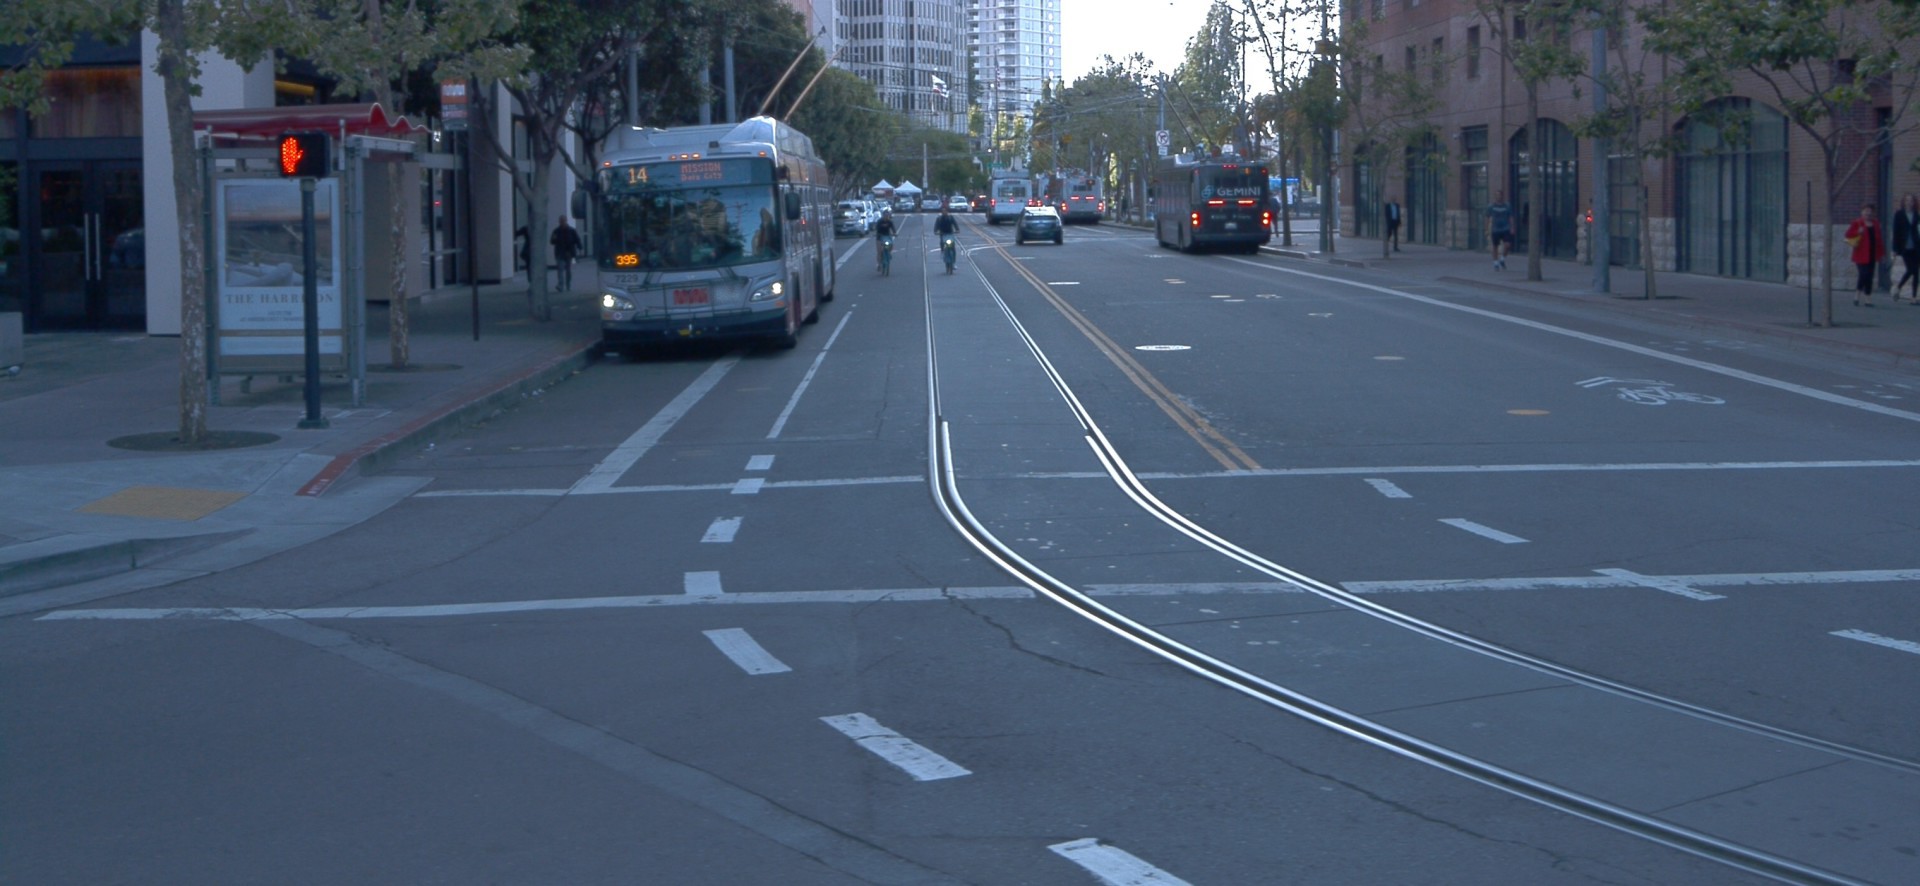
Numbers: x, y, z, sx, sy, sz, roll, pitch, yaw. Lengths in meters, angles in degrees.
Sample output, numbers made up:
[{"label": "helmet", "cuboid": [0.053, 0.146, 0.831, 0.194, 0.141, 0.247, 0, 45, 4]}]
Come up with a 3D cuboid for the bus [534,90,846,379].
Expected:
[{"label": "bus", "cuboid": [-4.064, -3.814, 36.585, 3.374, 3.731, 19.017, -1, 6, -1]}]

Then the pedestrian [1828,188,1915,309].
[{"label": "pedestrian", "cuboid": [13.897, -2.977, 31.543, 0.818, 1.796, 1.047, -1, 3, -4]}]
